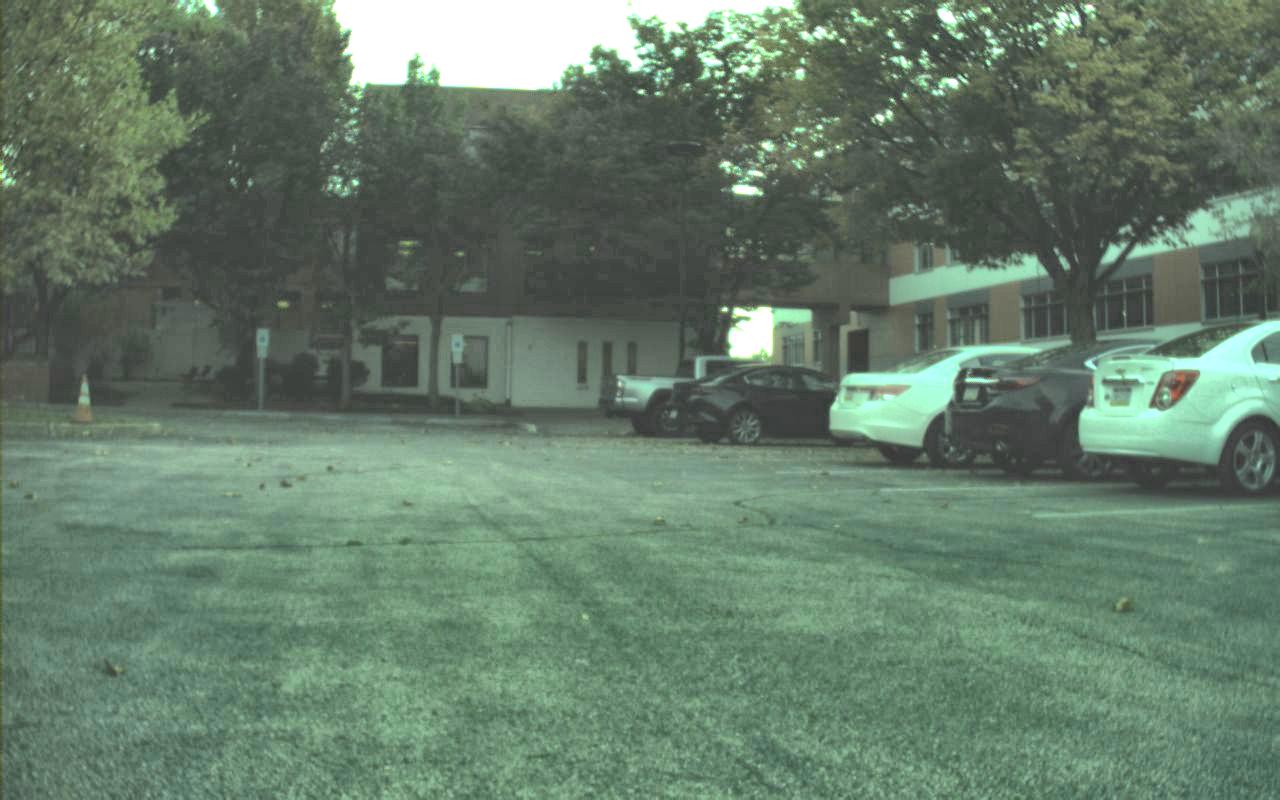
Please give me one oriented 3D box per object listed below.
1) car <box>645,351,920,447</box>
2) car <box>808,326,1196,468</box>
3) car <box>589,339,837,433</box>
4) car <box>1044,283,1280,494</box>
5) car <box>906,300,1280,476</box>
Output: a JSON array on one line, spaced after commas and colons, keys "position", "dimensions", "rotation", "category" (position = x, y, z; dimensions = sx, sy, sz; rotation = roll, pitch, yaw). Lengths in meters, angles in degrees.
[{"position": [2.572, -0.041, 22.589], "dimensions": [4.588, 1.588, 1.971], "rotation": [0, 1, -19], "category": "car"}, {"position": [4.473, -0.045, 14.945], "dimensions": [4.549, 1.541, 1.929], "rotation": [0, 1, -10], "category": "car"}, {"position": [1.563, -0.317, 27.417], "dimensions": [5.016, 1.917, 2.096], "rotation": [0, 1, -14], "category": "car"}, {"position": [5.880, -0.087, 10.154], "dimensions": [4.375, 1.580, 1.892], "rotation": [0, 1, -12], "category": "car"}, {"position": [5.164, -0.122, 12.557], "dimensions": [4.451, 1.604, 1.927], "rotation": [0, 1, -12], "category": "car"}]
